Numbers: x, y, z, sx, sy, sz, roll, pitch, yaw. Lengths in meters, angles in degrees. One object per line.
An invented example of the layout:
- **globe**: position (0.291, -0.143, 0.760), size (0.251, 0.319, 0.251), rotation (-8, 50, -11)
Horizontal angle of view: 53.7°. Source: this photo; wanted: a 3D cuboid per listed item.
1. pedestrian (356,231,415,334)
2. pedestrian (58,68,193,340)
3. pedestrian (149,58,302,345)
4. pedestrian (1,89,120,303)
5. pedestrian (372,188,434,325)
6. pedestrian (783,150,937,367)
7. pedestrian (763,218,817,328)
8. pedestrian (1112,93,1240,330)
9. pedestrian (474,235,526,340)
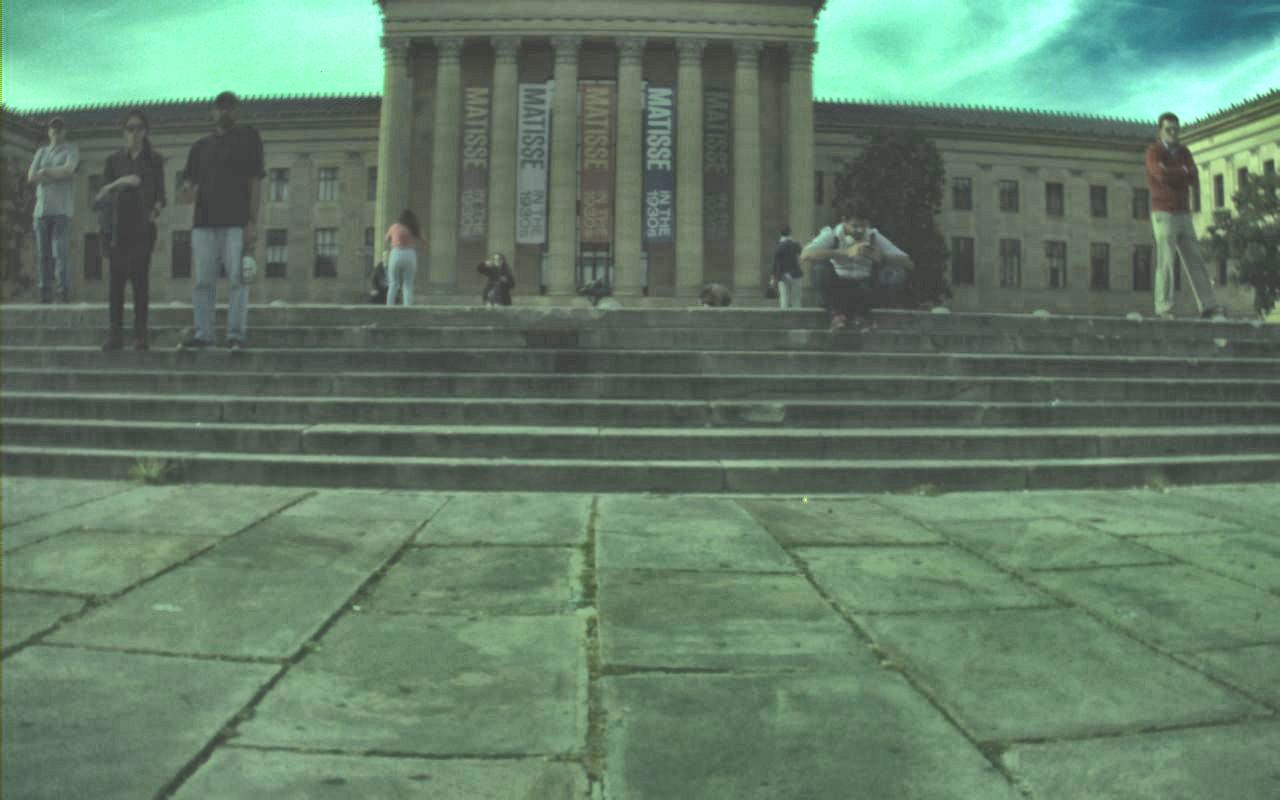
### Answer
- **pedestrian**: position (-4.276, -1.947, 20.808), size (0.798, 1.677, 0.808), rotation (0, 0, 2)
- **pedestrian**: position (-3.470, -1.274, 7.803), size (0.733, 1.761, 0.732), rotation (0, 0, -10)
- **pedestrian**: position (-2.716, -1.255, 7.825), size (0.765, 1.797, 0.766), rotation (0, 0, 0)
- **pedestrian**: position (-5.374, -1.822, 10.438), size (0.797, 1.876, 0.782), rotation (0, 0, 5)
- **pedestrian**: position (-3.142, -1.872, 16.423), size (0.778, 1.757, 0.790), rotation (0, 0, -11)
- **pedestrian**: position (1.494, -0.931, 8.529), size (0.841, 1.407, 0.765), rotation (0, 0, -11)
- **pedestrian**: position (2.480, -2.085, 20.812), size (0.758, 1.754, 0.750), rotation (0, 0, -5)
- **pedestrian**: position (4.370, -1.483, 9.479), size (0.790, 1.834, 0.811), rotation (0, 0, -1)
- **pedestrian**: position (-2.357, -1.869, 21.056), size (0.831, 1.701, 0.832), rotation (0, 0, -9)
